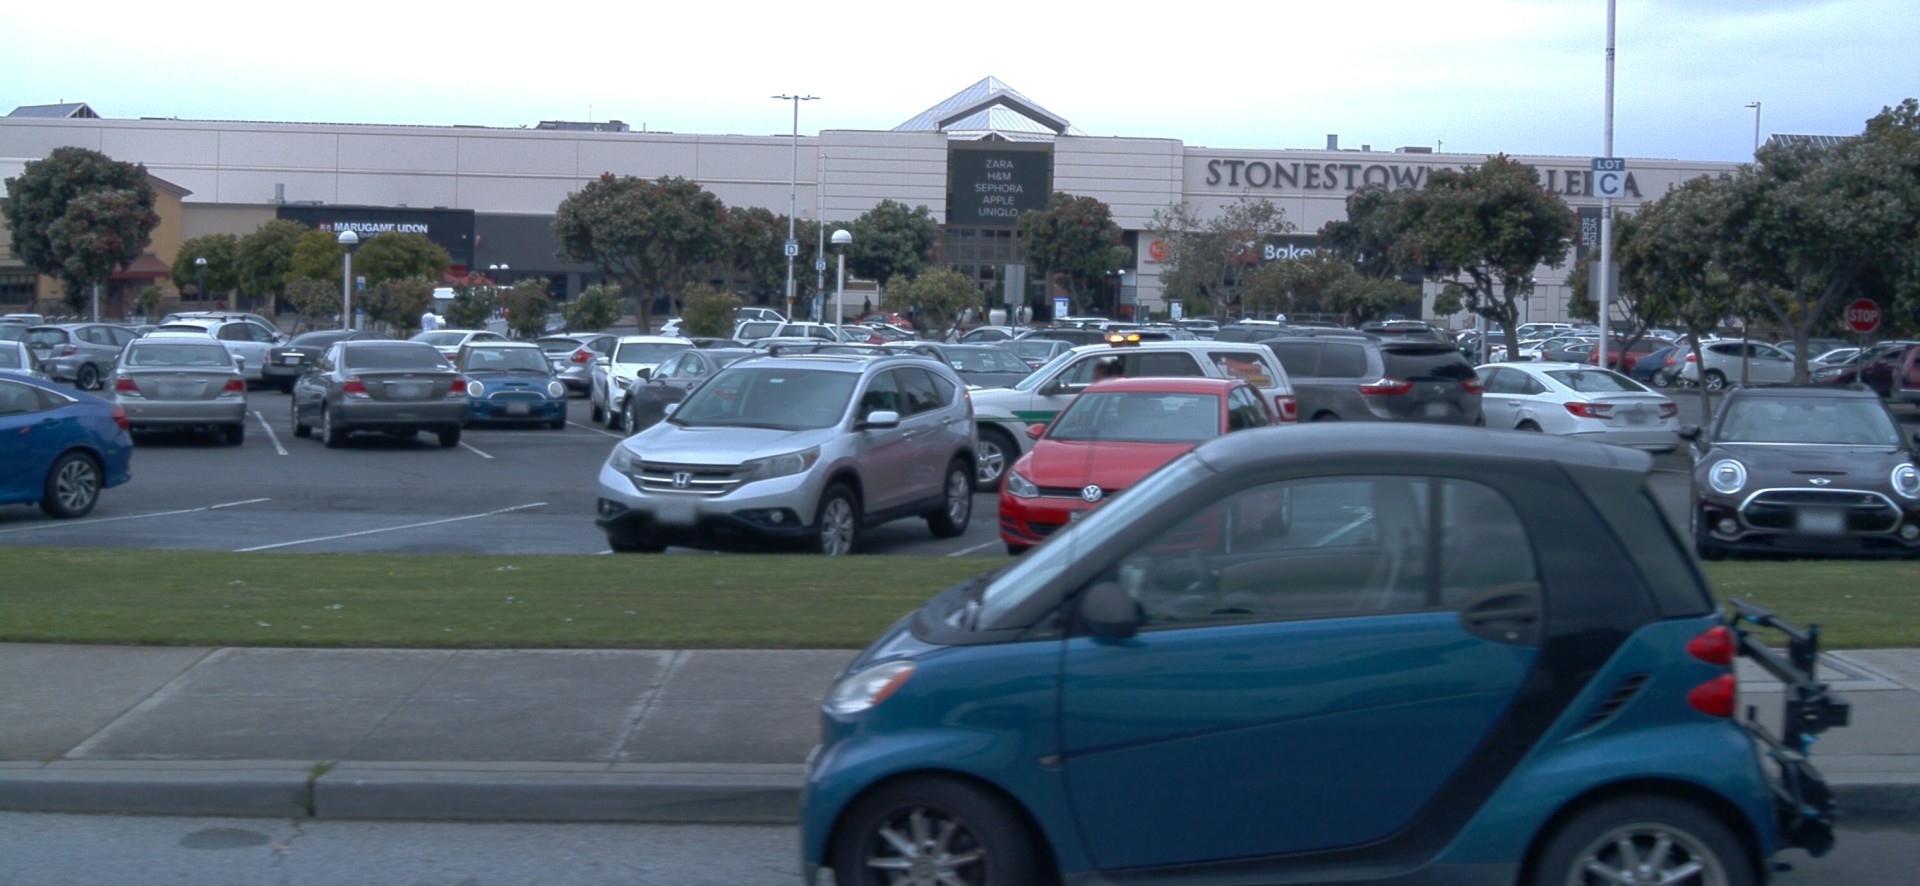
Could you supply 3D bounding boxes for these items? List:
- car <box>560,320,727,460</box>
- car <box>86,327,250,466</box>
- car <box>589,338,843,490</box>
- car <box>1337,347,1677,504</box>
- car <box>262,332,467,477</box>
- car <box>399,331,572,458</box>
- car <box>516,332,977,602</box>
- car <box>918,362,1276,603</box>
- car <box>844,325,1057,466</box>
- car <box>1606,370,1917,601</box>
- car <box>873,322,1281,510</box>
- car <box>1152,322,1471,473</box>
[{"bbox_3d":[-5.462,-0.989,34.904,2.172,1.987,4.874,-1,5,-16],"label":"car"},{"bbox_3d":[-11.237,-0.732,28.988,1.958,1.594,4.197,-2,5,-24],"label":"car"},{"bbox_3d":[-3.573,-0.508,29.273,2.121,1.714,4.688,-2,5,-27],"label":"car"},{"bbox_3d":[7.560,-0.344,28.965,2.333,1.716,4.744,-1,5,-21],"label":"car"},{"bbox_3d":[-8.600,-0.636,29.384,1.995,1.664,4.613,-2,5,-27],"label":"car"},{"bbox_3d":[-8.056,-0.893,34.532,2.173,1.728,4.871,-1,5,-21],"label":"car"},{"bbox_3d":[-1.600,0.041,17.310,2.097,1.714,4.541,1,5,20],"label":"car"},{"bbox_3d":[1.313,0.201,17.505,2.058,1.494,4.205,1,5,18],"label":"car"},{"bbox_3d":[-0.260,-0.893,34.746,2.128,1.975,4.695,-1,5,-20],"label":"car"},{"bbox_3d":[6.645,0.228,17.411,2.167,1.384,4.295,1,5,18],"label":"car"},{"bbox_3d":[1.282,-0.355,23.362,4.433,1.957,2.079,0,3,0],"label":"car"},{"bbox_3d":[4.813,-0.730,28.833,2.080,1.724,4.552,-2,5,-28],"label":"car"}]
